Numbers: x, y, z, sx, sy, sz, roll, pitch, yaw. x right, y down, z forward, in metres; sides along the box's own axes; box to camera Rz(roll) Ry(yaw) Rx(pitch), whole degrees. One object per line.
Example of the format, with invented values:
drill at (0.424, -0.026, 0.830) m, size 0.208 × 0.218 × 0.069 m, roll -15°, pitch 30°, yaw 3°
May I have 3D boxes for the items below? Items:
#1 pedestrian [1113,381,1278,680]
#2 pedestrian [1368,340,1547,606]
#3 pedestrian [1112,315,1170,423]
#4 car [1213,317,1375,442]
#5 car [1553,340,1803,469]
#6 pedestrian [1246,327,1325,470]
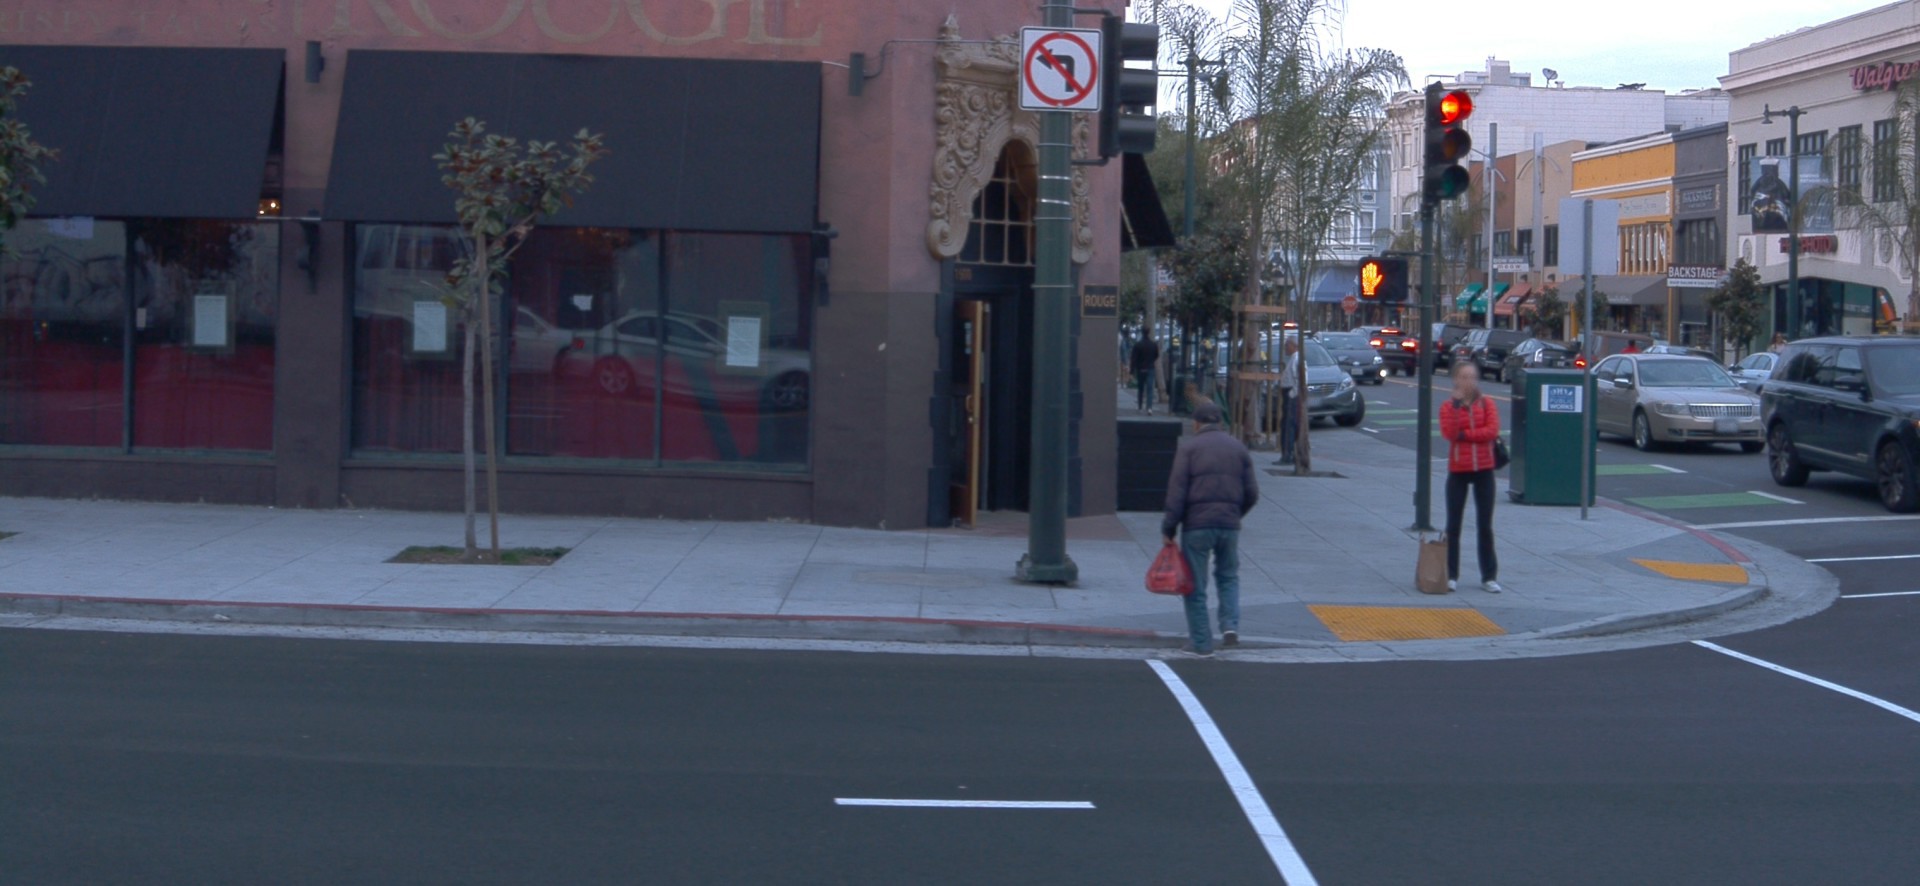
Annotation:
pedestrian at (1.413, 0.499, 12.522) m, size 0.854 × 1.676 × 0.920 m, roll 0°, pitch 3°, yaw -3°
pedestrian at (3.710, 0.195, 15.428) m, size 1.068 × 1.874 × 0.867 m, roll 0°, pitch 2°, yaw -5°
pedestrian at (3.393, -1.406, 38.704) m, size 1.046 × 1.945 × 1.137 m, roll 0°, pitch 3°, yaw 4°
car at (6.126, -1.255, 38.326) m, size 2.175 × 1.910 × 4.798 m, roll 0°, pitch 6°, yaw -1°
car at (10.750, -0.657, 31.261) m, size 2.078 × 1.472 × 4.879 m, roll 0°, pitch 6°, yaw 0°
pedestrian at (4.188, -0.592, 26.446) m, size 0.881 × 1.726 × 1.028 m, roll 1°, pitch 3°, yaw 15°
